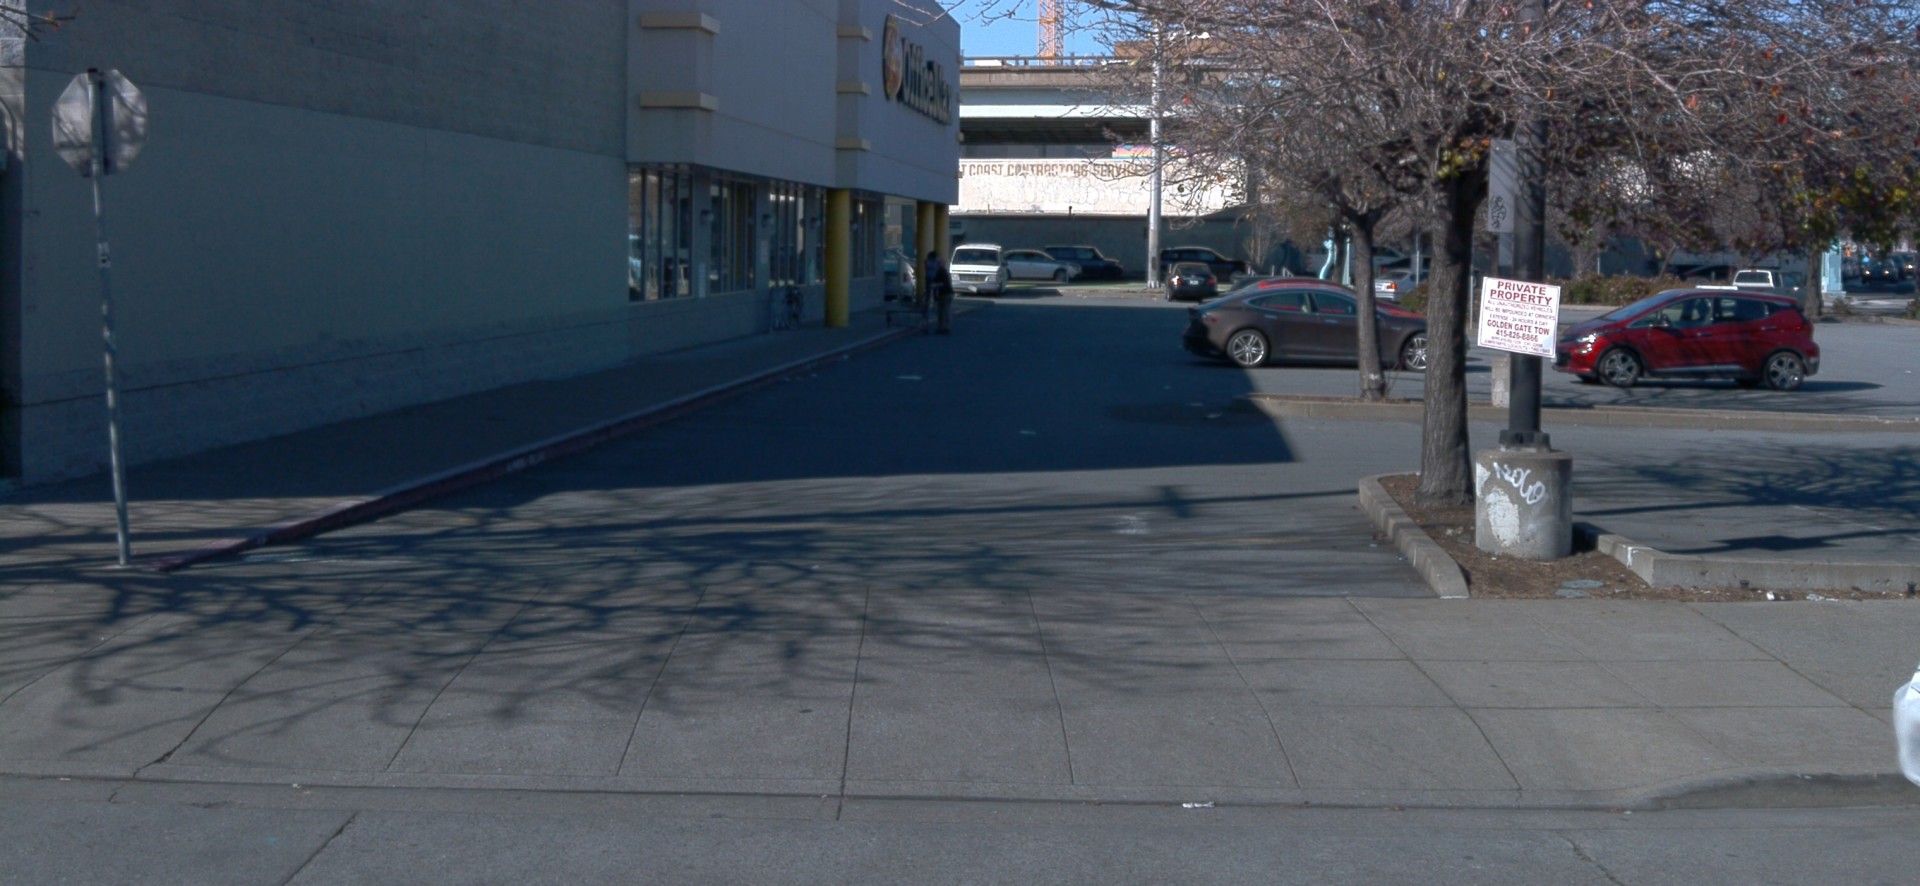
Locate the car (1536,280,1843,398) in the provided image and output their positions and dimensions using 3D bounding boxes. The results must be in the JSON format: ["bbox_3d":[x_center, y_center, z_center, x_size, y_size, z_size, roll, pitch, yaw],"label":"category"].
[{"bbox_3d":[11.558,-1.686,32.820,4.156,1.695,2.038,1,4,1],"label":"car"}]

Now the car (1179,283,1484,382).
[{"bbox_3d":[6.404,-1.963,35.921,5.044,1.525,1.995,1,4,4],"label":"car"}]
